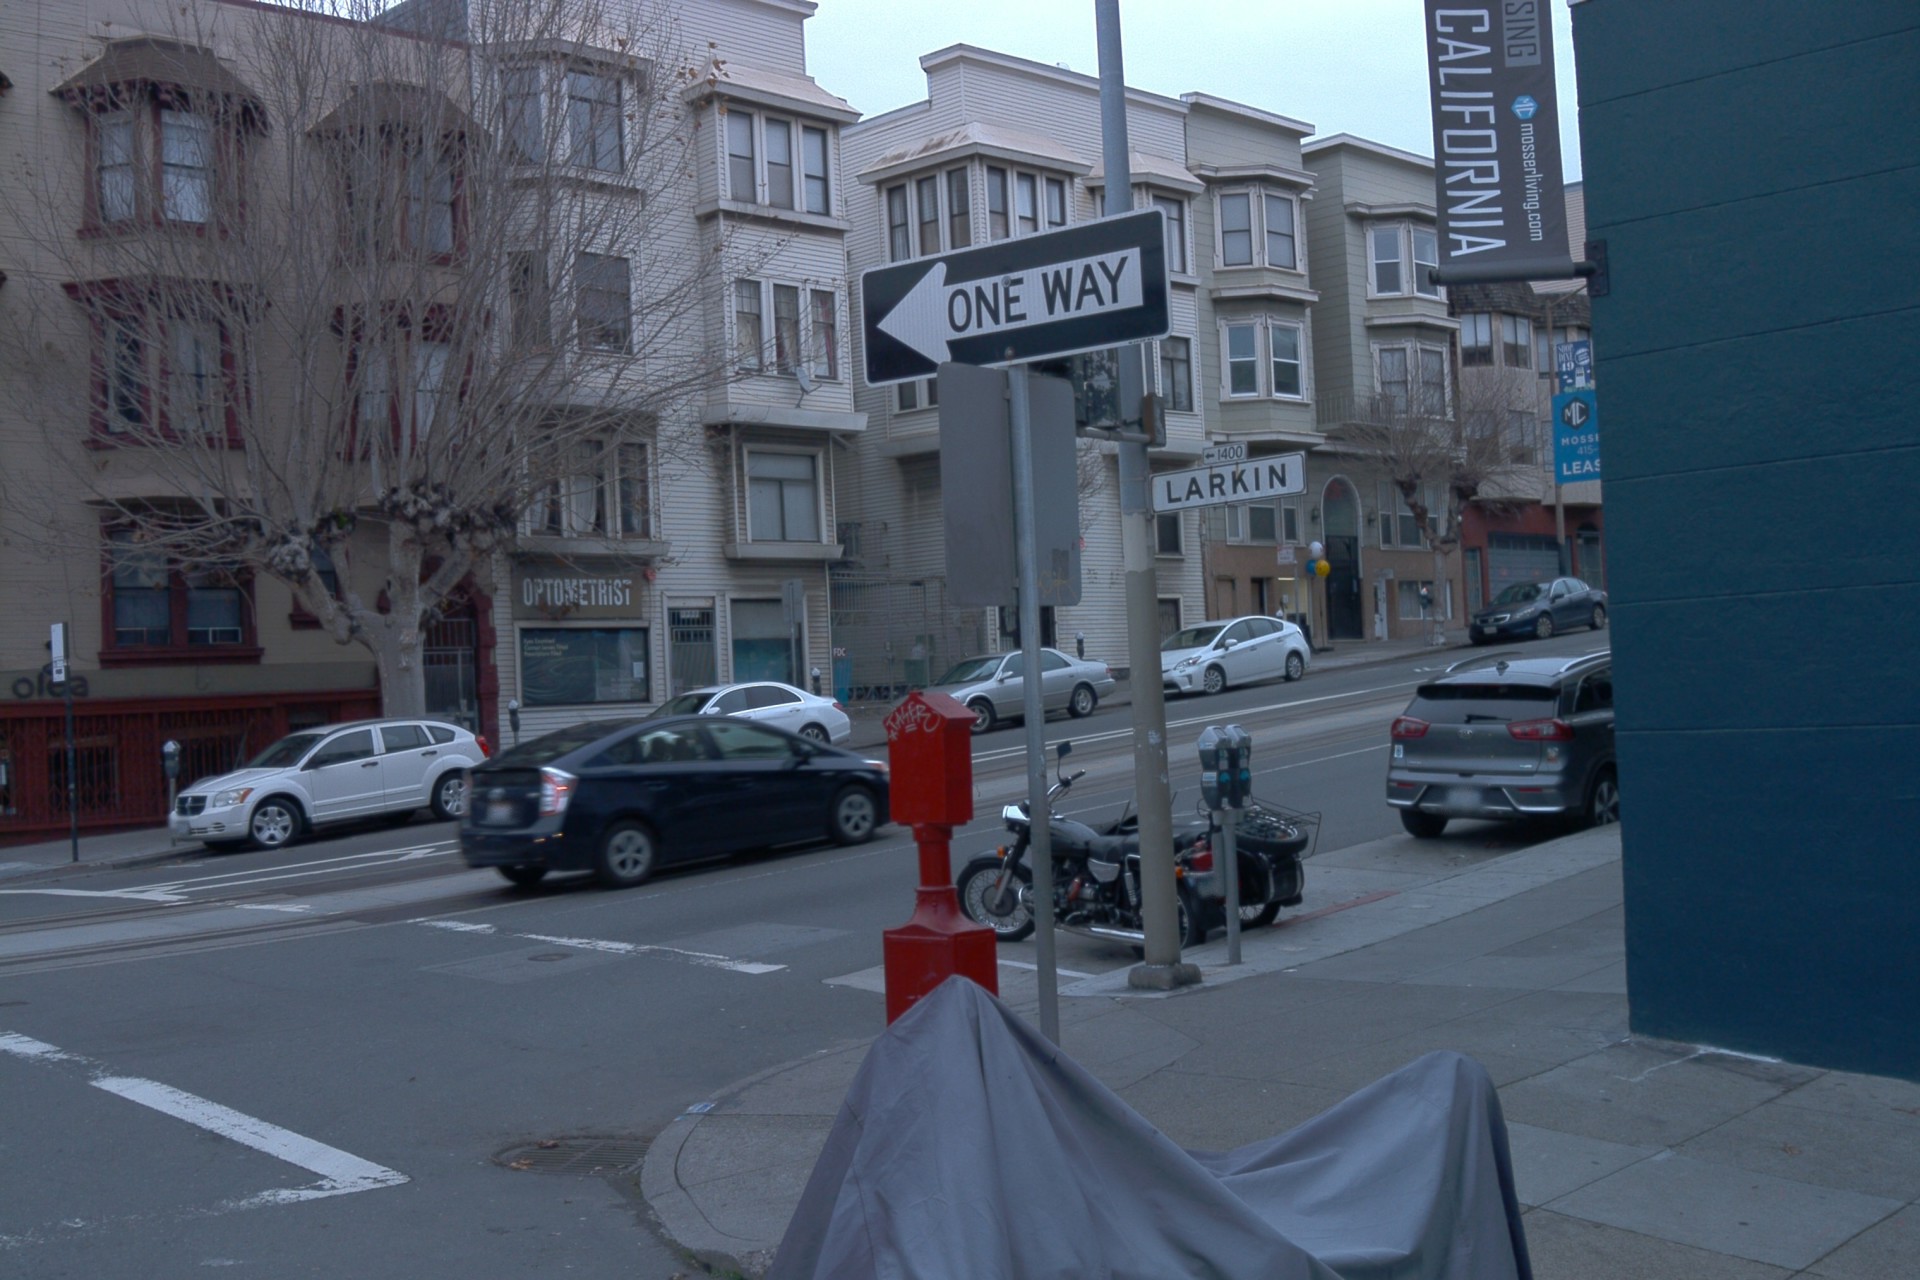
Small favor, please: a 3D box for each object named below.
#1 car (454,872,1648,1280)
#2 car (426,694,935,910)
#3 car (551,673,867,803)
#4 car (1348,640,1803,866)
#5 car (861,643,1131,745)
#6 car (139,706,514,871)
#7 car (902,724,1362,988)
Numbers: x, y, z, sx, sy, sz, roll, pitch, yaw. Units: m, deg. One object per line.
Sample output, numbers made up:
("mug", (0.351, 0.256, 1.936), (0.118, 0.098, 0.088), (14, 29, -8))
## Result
("car", (0.332, 1.393, 4.286), (2.490, 1.520, 1.048), (-1, 1, -44))
("car", (-2.577, 1.437, 19.871), (2.078, 1.660, 4.518), (1, 1, 44))
("car", (-3.872, 1.464, 32.361), (4.589, 1.757, 2.074), (-1, 1, -44))
("car", (5.645, 0.883, 18.584), (2.132, 1.717, 4.606), (0, 1, 42))
("car", (0.712, 0.918, 37.121), (4.801, 1.657, 2.084), (-1, 1, -45))
("car", (-8.482, 1.917, 27.919), (2.053, 1.847, 4.407), (1, 1, 44))
("car", (1.133, 1.378, 14.055), (2.745, 1.460, 1.540), (0, 1, 42))
